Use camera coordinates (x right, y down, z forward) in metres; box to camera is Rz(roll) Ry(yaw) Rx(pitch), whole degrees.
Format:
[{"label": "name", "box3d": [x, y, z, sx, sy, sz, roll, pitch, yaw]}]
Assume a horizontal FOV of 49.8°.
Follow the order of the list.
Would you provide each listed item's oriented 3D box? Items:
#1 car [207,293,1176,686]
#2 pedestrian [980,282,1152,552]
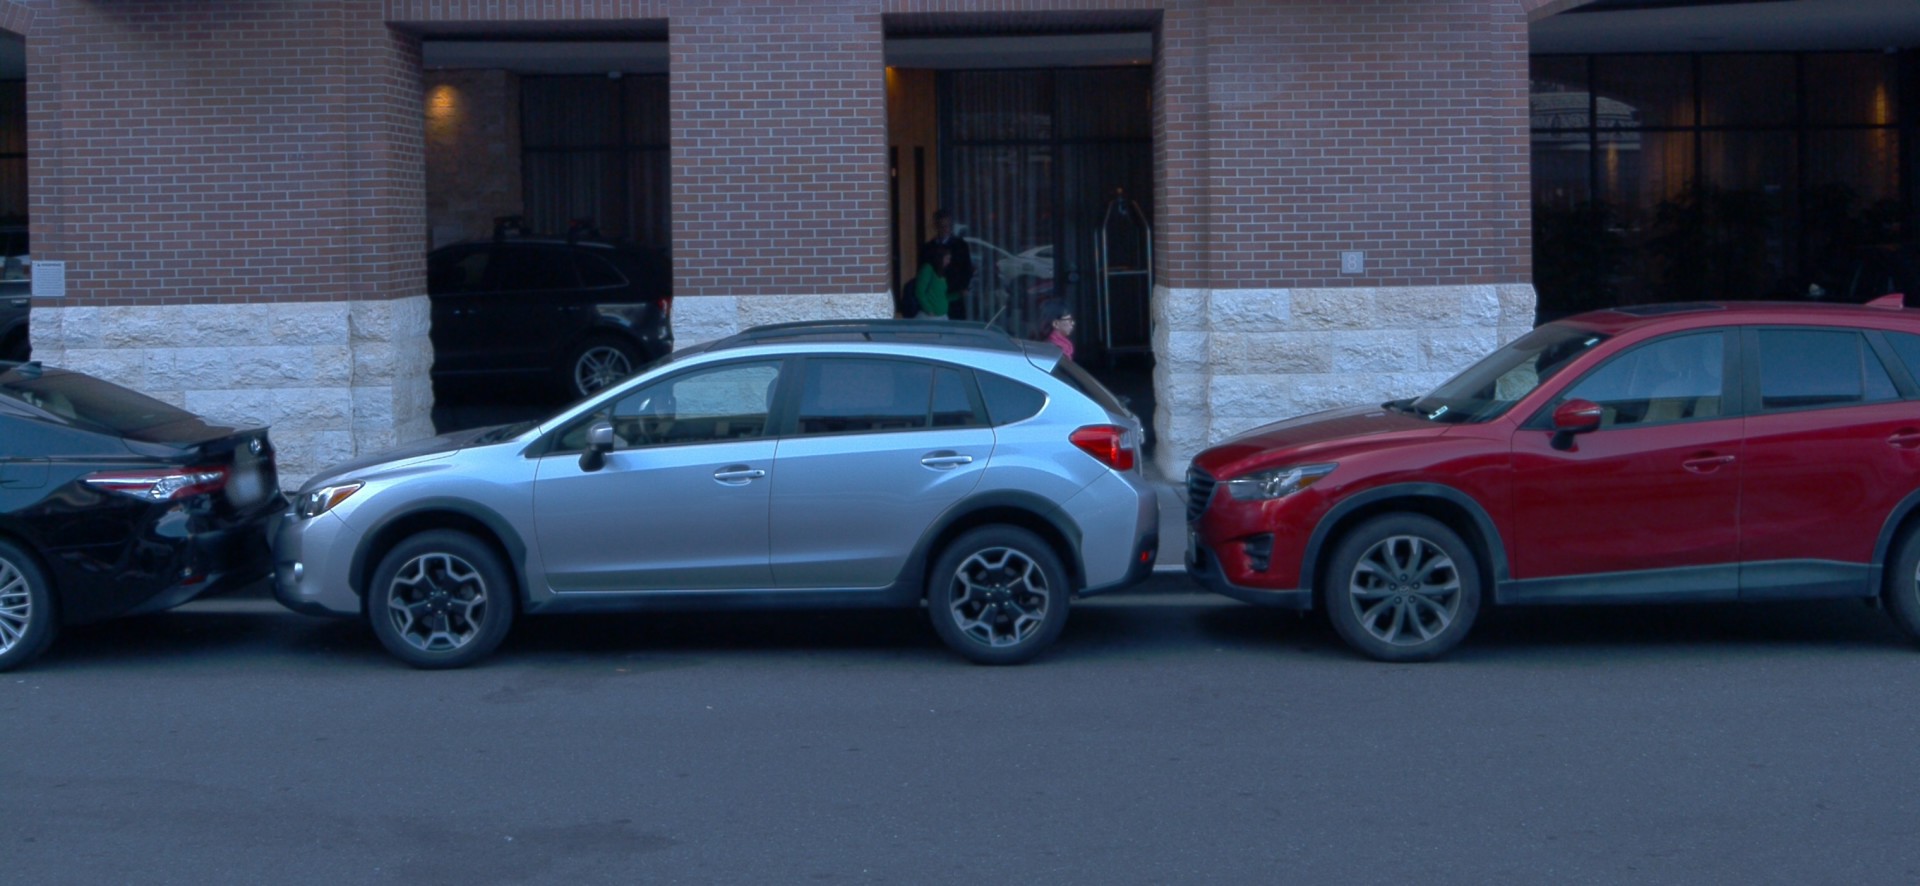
[{"label": "car", "box3d": [-1.232, 0.145, 10.556, 4.456, 1.687, 2.062, 0, 4, 1]}, {"label": "pedestrian", "box3d": [0.650, -0.195, 12.977, 0.931, 1.581, 0.962, -1, 3, -5]}]
